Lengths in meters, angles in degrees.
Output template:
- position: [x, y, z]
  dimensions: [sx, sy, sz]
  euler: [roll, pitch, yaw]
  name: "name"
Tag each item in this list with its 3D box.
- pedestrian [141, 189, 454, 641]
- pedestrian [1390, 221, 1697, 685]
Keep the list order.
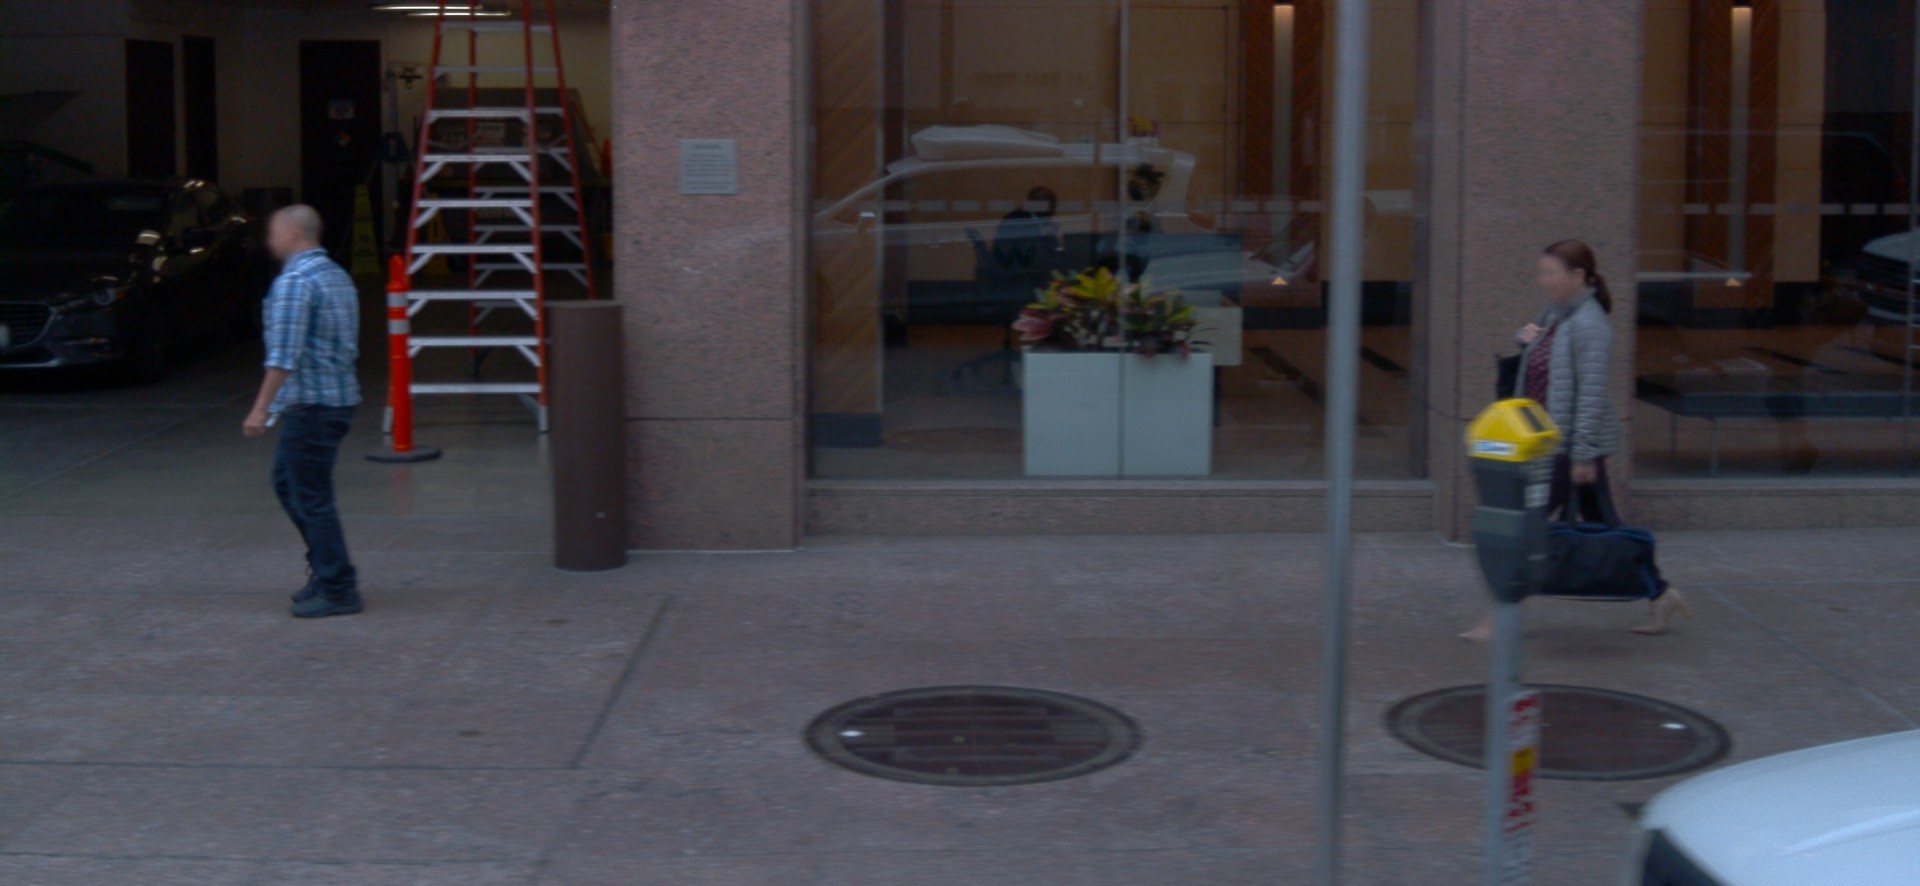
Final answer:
- position: [-2.723, -0.155, 8.552]
  dimensions: [1.028, 1.779, 0.880]
  euler: [0, 1, -1]
  name: "pedestrian"
- position: [2.234, -0.009, 7.990]
  dimensions: [0.955, 1.699, 0.915]
  euler: [0, 1, 2]
  name: "pedestrian"
